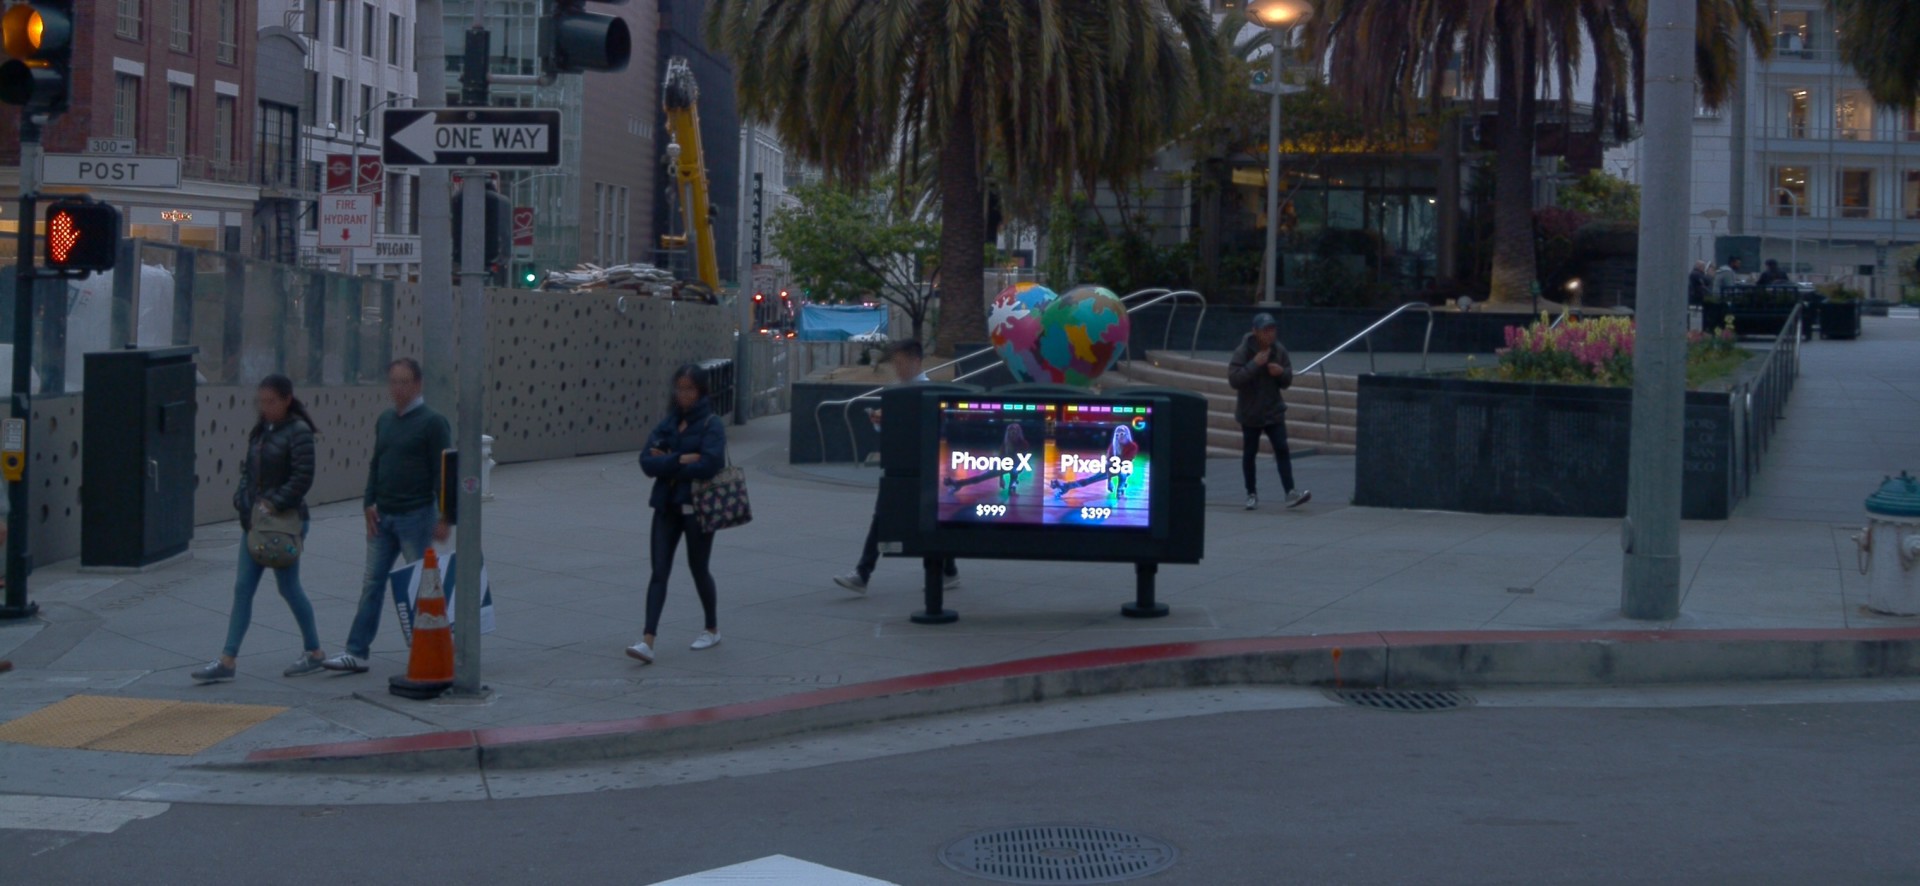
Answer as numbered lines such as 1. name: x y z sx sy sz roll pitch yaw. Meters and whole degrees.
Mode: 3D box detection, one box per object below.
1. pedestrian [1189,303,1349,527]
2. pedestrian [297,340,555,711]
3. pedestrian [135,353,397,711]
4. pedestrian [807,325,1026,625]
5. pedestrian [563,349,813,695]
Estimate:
1. pedestrian: 2.554 -0.266 17.158 1.000 1.759 1.002 -1 2 -14
2. pedestrian: -2.907 0.384 11.241 1.001 1.829 1.001 -2 2 -43
3. pedestrian: -3.717 0.414 11.054 1.001 1.719 1.001 -2 2 -43
4. pedestrian: -0.285 0.153 13.179 1.001 1.759 1.001 -1 2 -35
5. pedestrian: -1.489 0.384 11.448 1.000 1.749 1.002 0 2 23
